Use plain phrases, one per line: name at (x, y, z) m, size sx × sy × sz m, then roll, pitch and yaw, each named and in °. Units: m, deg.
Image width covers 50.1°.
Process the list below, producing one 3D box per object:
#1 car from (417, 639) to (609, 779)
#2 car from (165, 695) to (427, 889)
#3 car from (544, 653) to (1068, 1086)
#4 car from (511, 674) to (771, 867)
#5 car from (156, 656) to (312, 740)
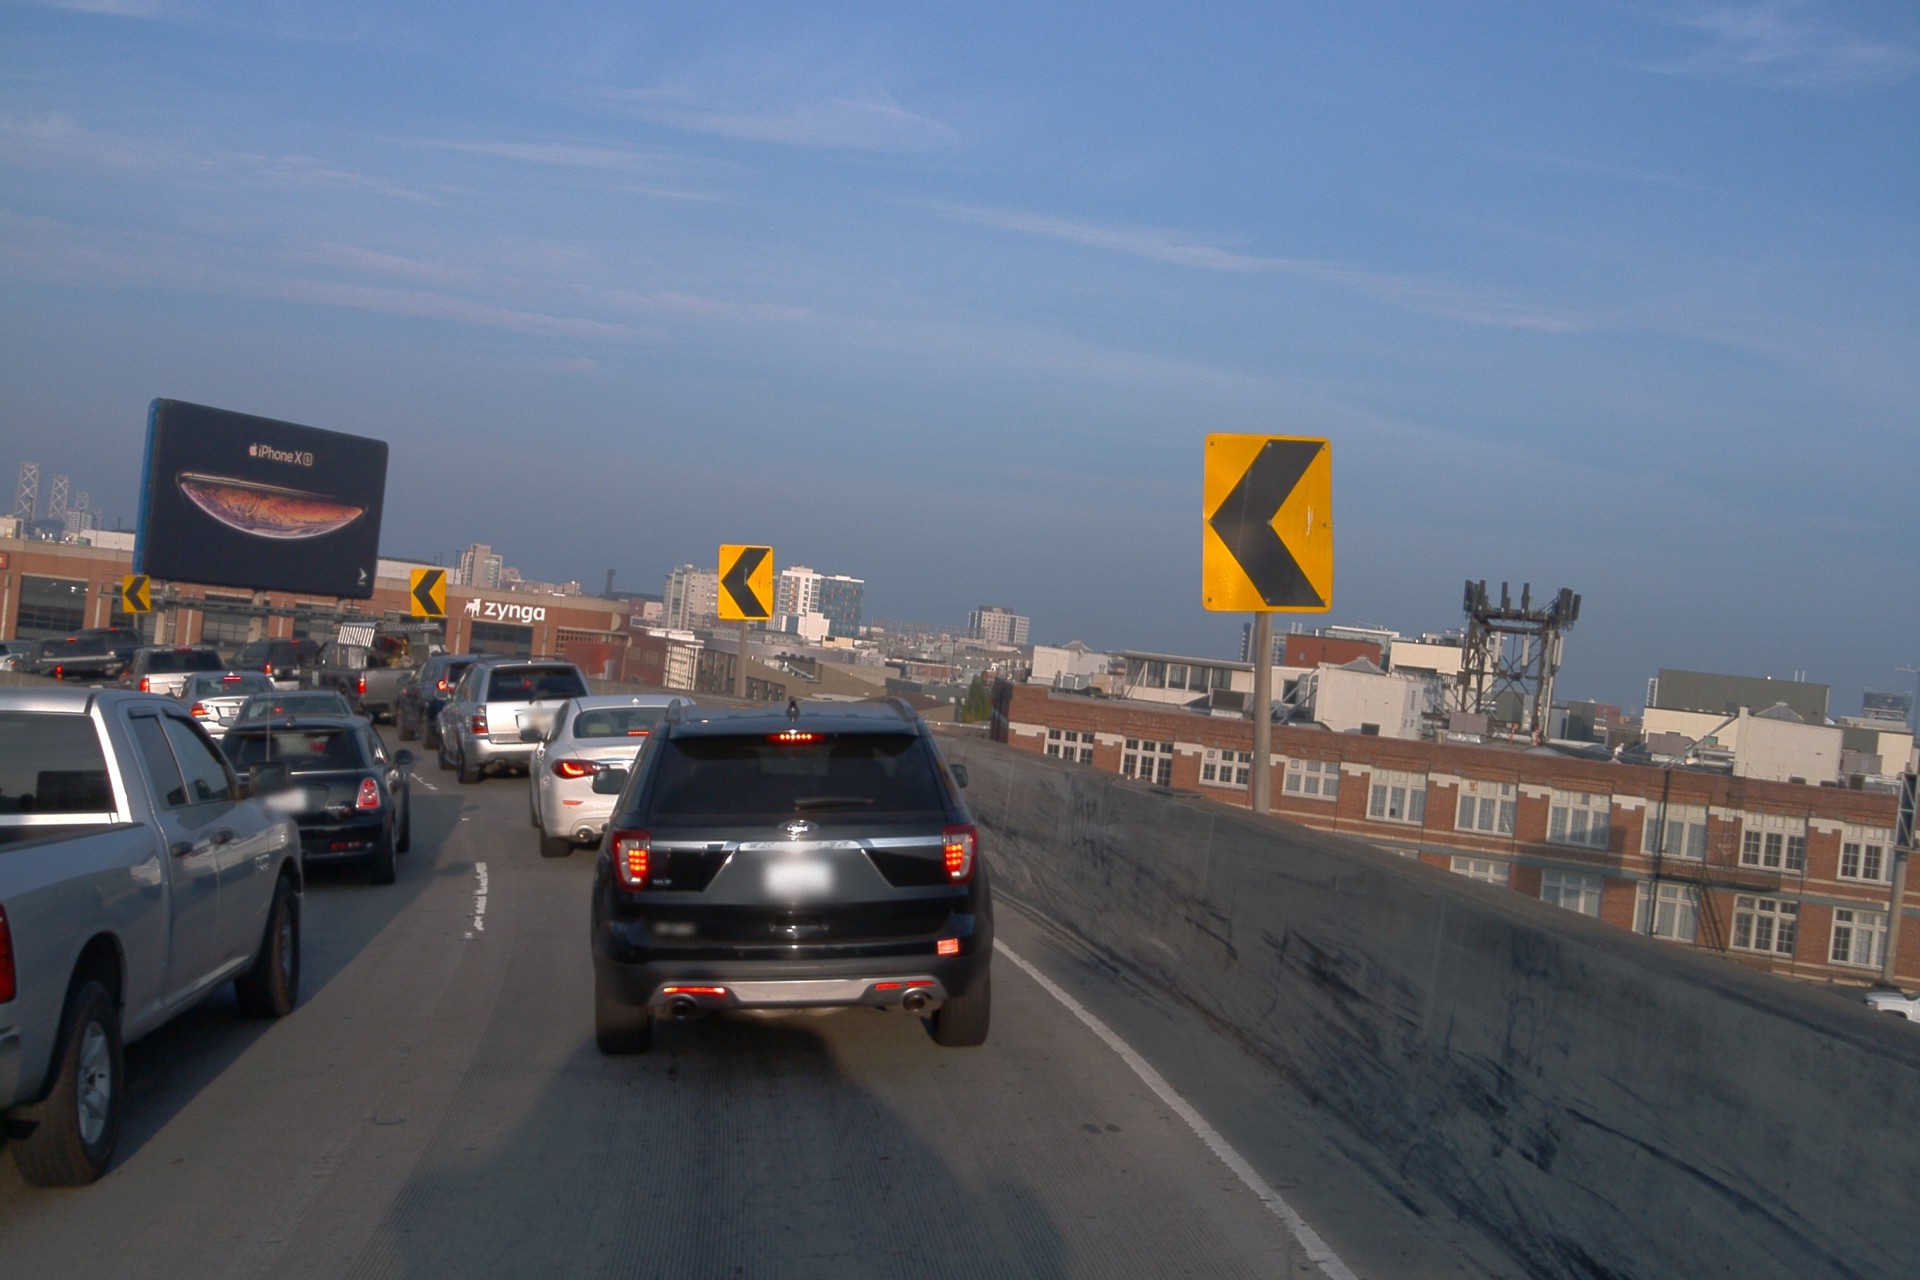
car at (-6.486, 0.908, 29.435) m, size 1.992 × 1.820 × 4.394 m, roll 0°, pitch 0°, yaw -22°
car at (-5.868, 1.269, 18.573) m, size 1.934 × 1.411 × 4.084 m, roll 0°, pitch 0°, yaw -14°
car at (-0.975, 1.024, 11.600) m, size 2.327 × 1.850 × 4.877 m, roll 0°, pitch 0°, yaw -7°
car at (-3.300, 1.187, 20.454) m, size 2.144 × 1.590 × 4.510 m, roll 0°, pitch 0°, yaw -14°
car at (-12.843, 0.963, 36.114) m, size 2.005 × 1.310 × 4.887 m, roll 0°, pitch 0°, yaw -26°
